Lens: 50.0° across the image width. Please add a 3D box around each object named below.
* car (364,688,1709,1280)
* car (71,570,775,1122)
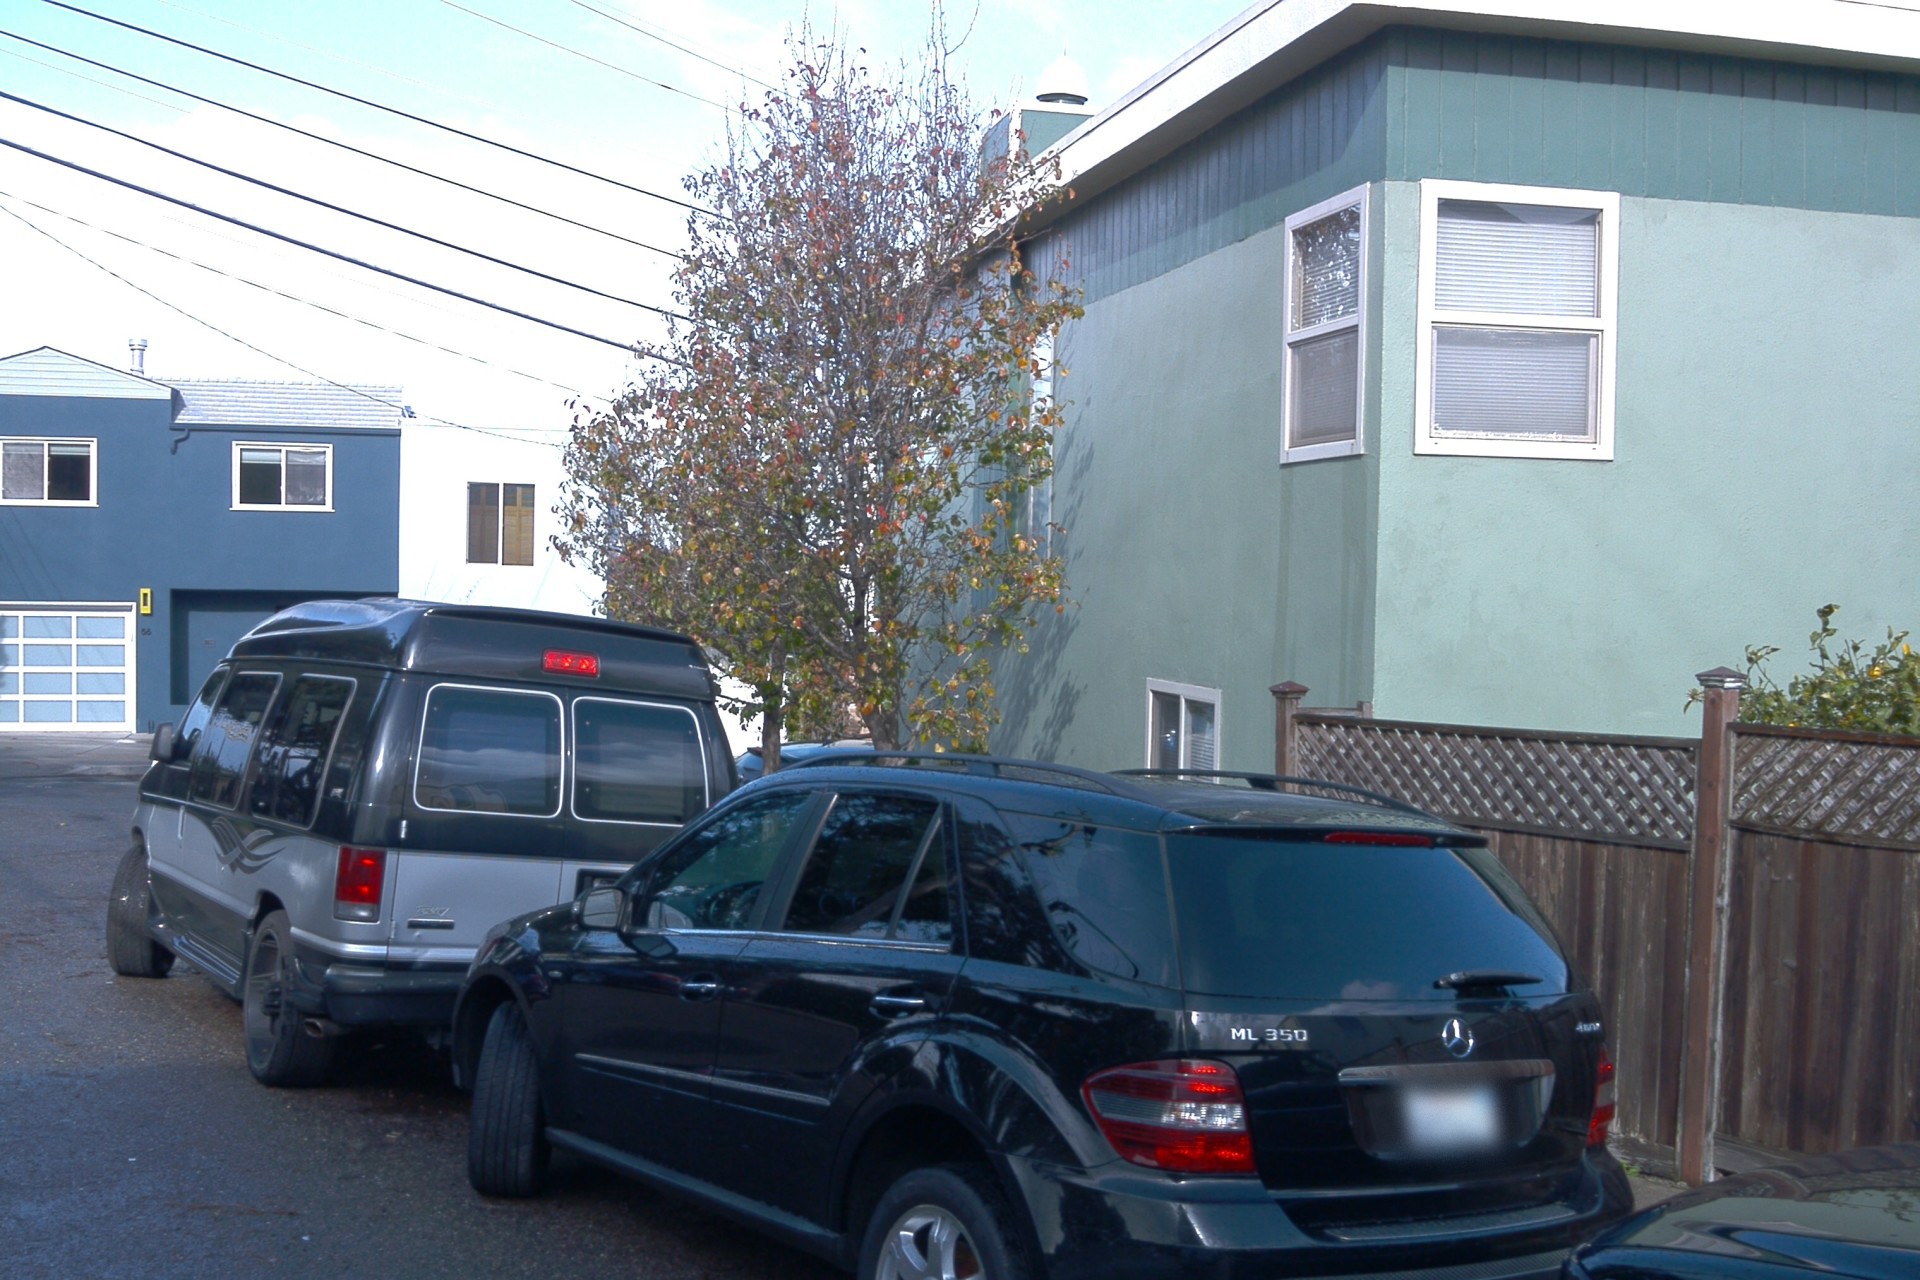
[{"bbox_3d":[-0.184,1.231,6.926,2.068,1.960,4.721,0,1,-35],"label":"car"},{"bbox_3d":[-3.285,0.817,11.428,2.285,2.280,5.503,0,1,-31],"label":"car"}]
